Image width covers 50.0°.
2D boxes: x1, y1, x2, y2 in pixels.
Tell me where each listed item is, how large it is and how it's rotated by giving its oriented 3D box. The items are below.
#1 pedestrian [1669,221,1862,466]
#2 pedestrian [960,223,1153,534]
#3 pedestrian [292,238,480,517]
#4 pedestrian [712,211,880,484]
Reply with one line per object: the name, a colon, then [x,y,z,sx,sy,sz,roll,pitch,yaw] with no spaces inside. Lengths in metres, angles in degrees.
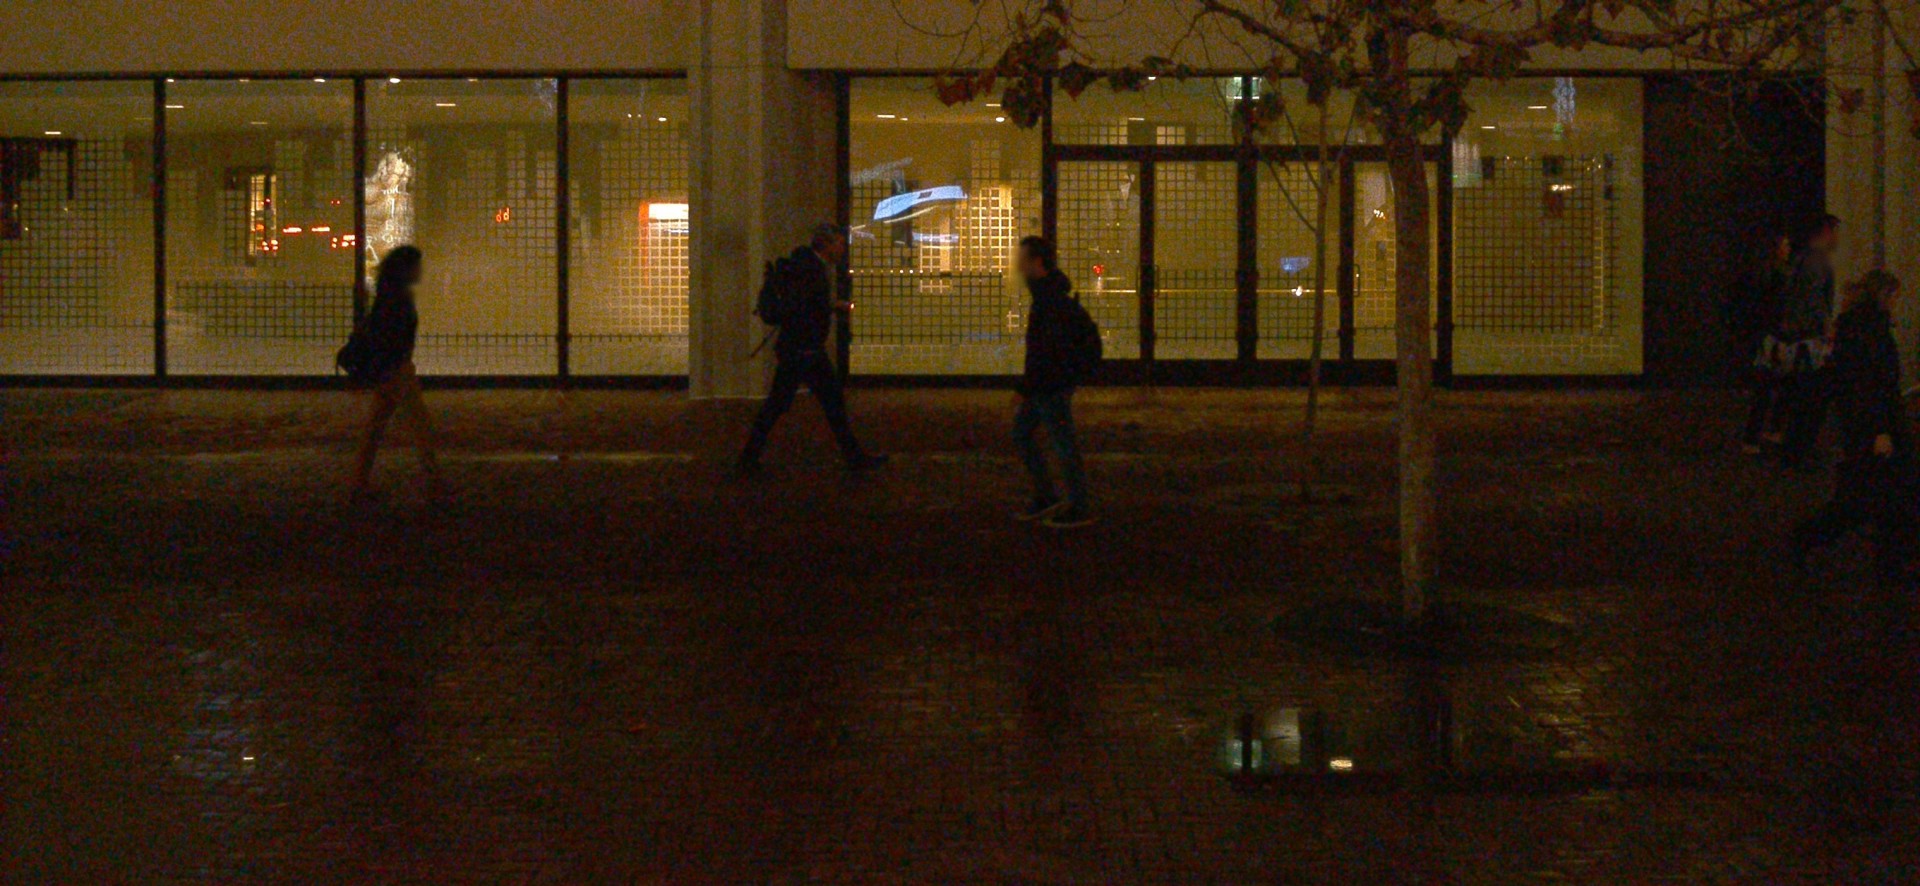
pedestrian: [5.924,-0.750,15.193,1.132,1.761,0.747,0,0,1]
pedestrian: [0.592,-0.419,12.646,1.141,1.851,0.759,0,0,3]
pedestrian: [-3.748,-0.454,13.503,1.048,1.781,0.731,0,0,-3]
pedestrian: [-1.119,-0.682,14.271,1.111,1.831,0.844,0,1,-1]
